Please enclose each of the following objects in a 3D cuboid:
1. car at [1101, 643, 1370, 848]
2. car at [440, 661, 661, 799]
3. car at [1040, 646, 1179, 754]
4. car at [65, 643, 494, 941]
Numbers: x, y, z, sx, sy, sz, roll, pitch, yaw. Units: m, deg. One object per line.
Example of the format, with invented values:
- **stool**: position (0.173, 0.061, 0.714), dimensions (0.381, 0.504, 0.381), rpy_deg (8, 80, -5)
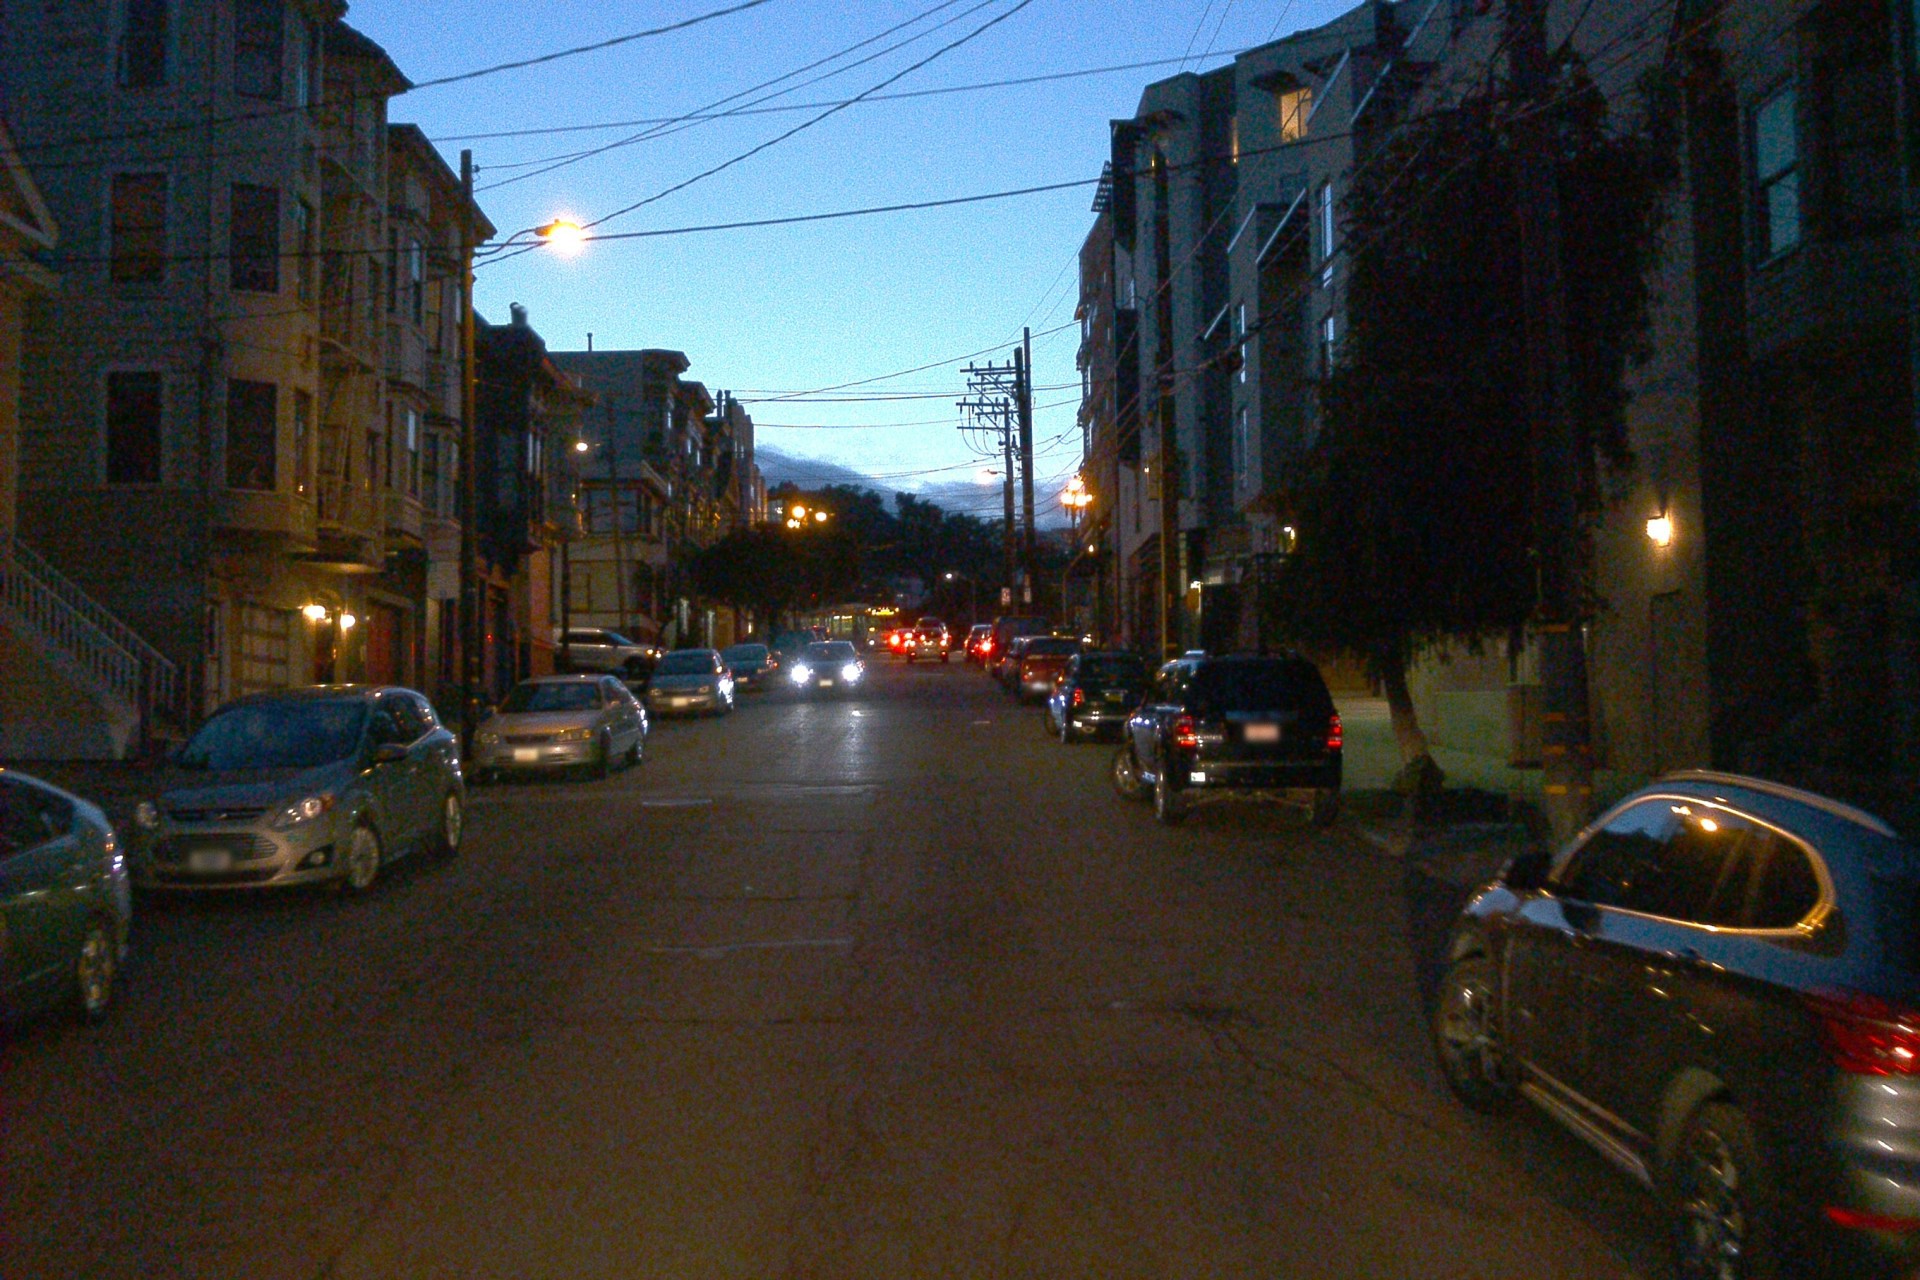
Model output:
- **car**: position (2.809, 1.018, 22.047), dimensions (2.143, 1.880, 4.497), rpy_deg (0, 1, -2)
- **car**: position (-5.769, 1.217, 29.639), dimensions (2.094, 1.690, 4.822), rpy_deg (0, 1, 2)
- **car**: position (2.481, 0.964, 34.921), dimensions (1.854, 1.660, 3.633), rpy_deg (0, 1, -4)
- **car**: position (-5.443, 1.111, 17.127), dimensions (2.093, 2.090, 4.338), rpy_deg (0, 1, 1)
